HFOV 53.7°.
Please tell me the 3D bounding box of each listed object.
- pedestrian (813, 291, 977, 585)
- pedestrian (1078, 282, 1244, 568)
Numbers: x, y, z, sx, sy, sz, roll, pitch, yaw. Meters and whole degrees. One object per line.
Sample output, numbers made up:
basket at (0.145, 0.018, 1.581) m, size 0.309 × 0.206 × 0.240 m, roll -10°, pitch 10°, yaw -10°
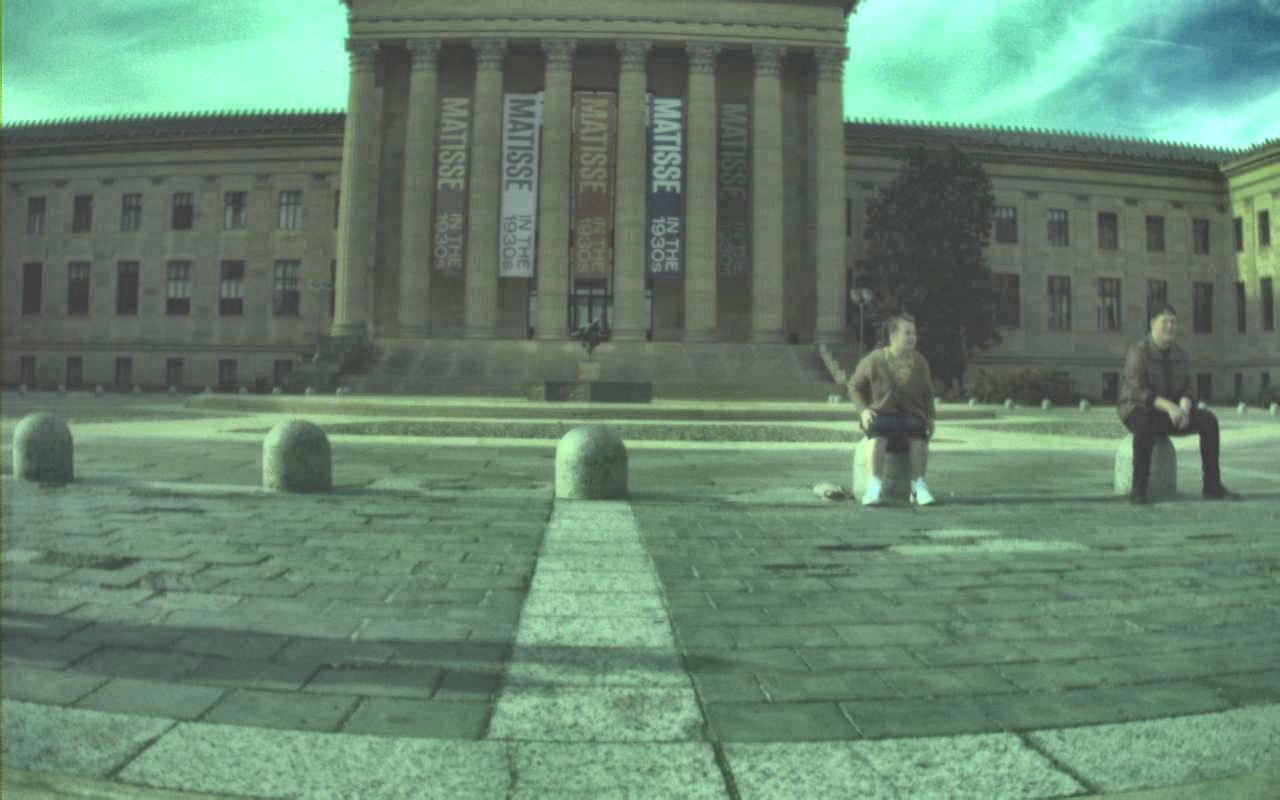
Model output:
pedestrian at (1.602, 0.227, 7.884) m, size 0.841 × 1.760 × 0.836 m, roll 0°, pitch 0°, yaw -3°
pedestrian at (3.500, 0.167, 7.883) m, size 0.861 × 1.808 × 0.861 m, roll 0°, pitch 0°, yaw -2°
